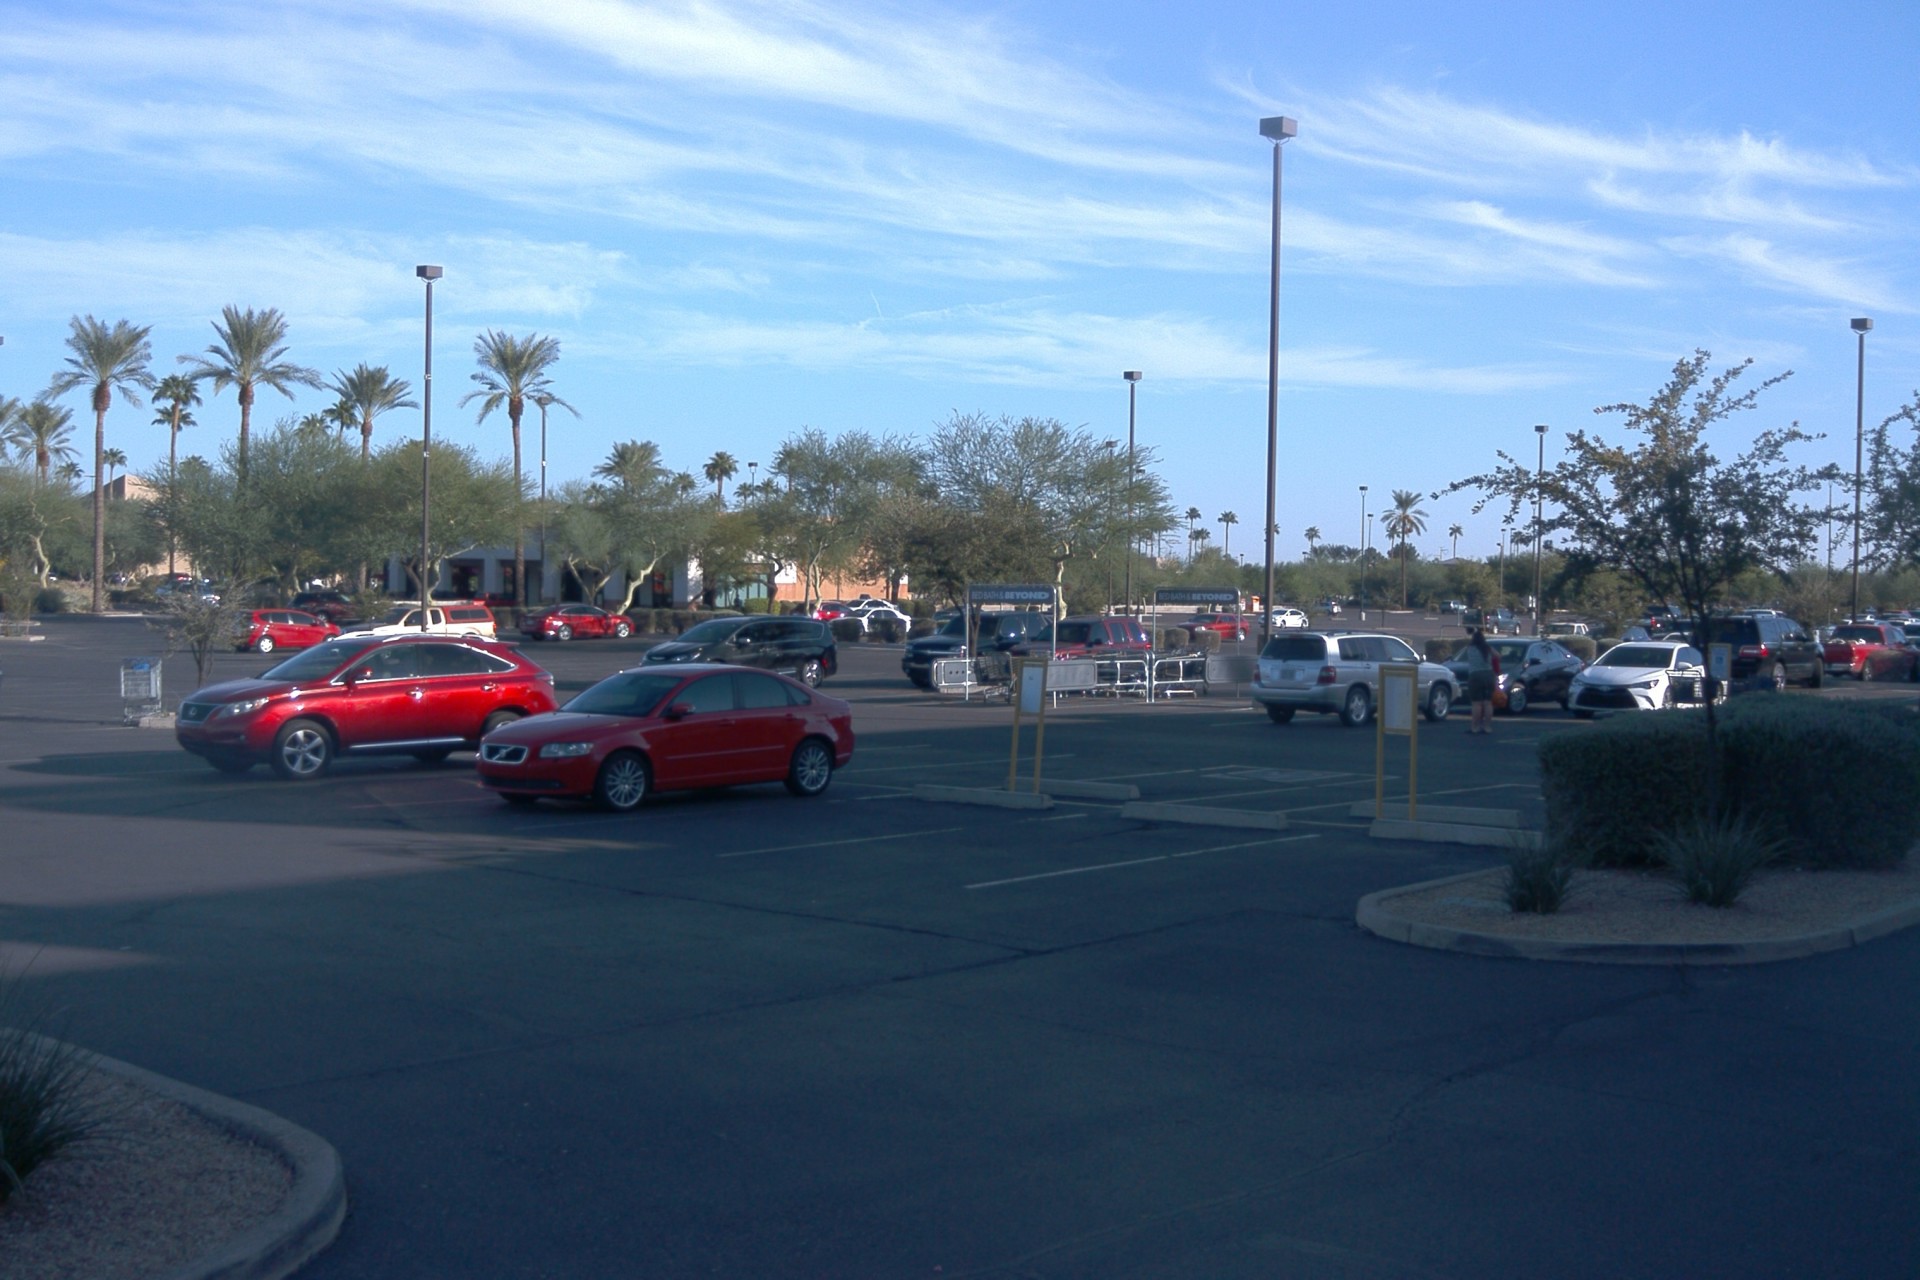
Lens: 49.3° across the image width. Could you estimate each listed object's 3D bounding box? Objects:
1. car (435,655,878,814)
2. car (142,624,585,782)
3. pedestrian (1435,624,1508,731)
[{"bbox_3d":[-3.136,0.924,22.419,2.004,1.470,4.510,0,0,40],"label":"car"},{"bbox_3d":[-7.251,0.699,25.839,2.110,1.760,4.865,0,0,43],"label":"car"},{"bbox_3d":[8.720,0.632,35.665,0.909,1.790,0.804,0,0,-27],"label":"pedestrian"}]
